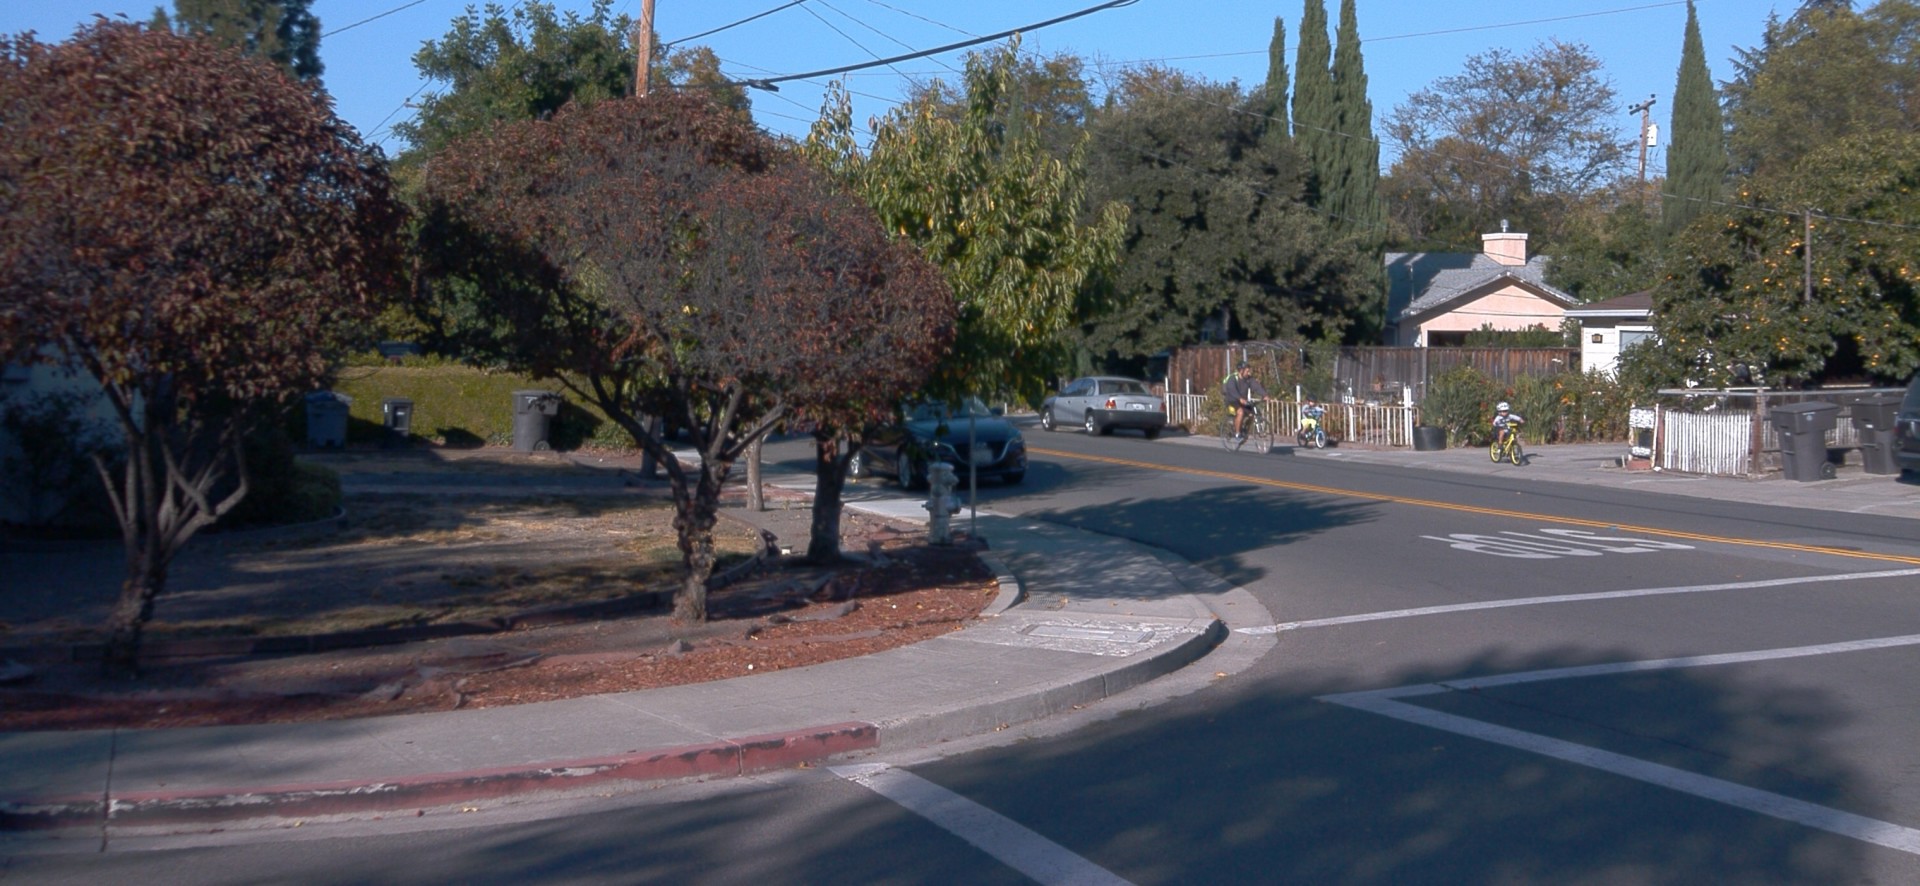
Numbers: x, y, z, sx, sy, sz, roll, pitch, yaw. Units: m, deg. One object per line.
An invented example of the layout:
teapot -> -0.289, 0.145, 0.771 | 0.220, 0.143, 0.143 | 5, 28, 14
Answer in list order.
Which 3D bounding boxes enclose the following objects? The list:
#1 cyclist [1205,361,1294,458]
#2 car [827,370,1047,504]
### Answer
cyclist -> 5.489, -0.662, 39.298 | 0.824, 1.664, 1.958 | 0, 4, -21
car -> -0.451, -0.166, 31.676 | 2.032, 1.554, 4.626 | -1, 5, -19
